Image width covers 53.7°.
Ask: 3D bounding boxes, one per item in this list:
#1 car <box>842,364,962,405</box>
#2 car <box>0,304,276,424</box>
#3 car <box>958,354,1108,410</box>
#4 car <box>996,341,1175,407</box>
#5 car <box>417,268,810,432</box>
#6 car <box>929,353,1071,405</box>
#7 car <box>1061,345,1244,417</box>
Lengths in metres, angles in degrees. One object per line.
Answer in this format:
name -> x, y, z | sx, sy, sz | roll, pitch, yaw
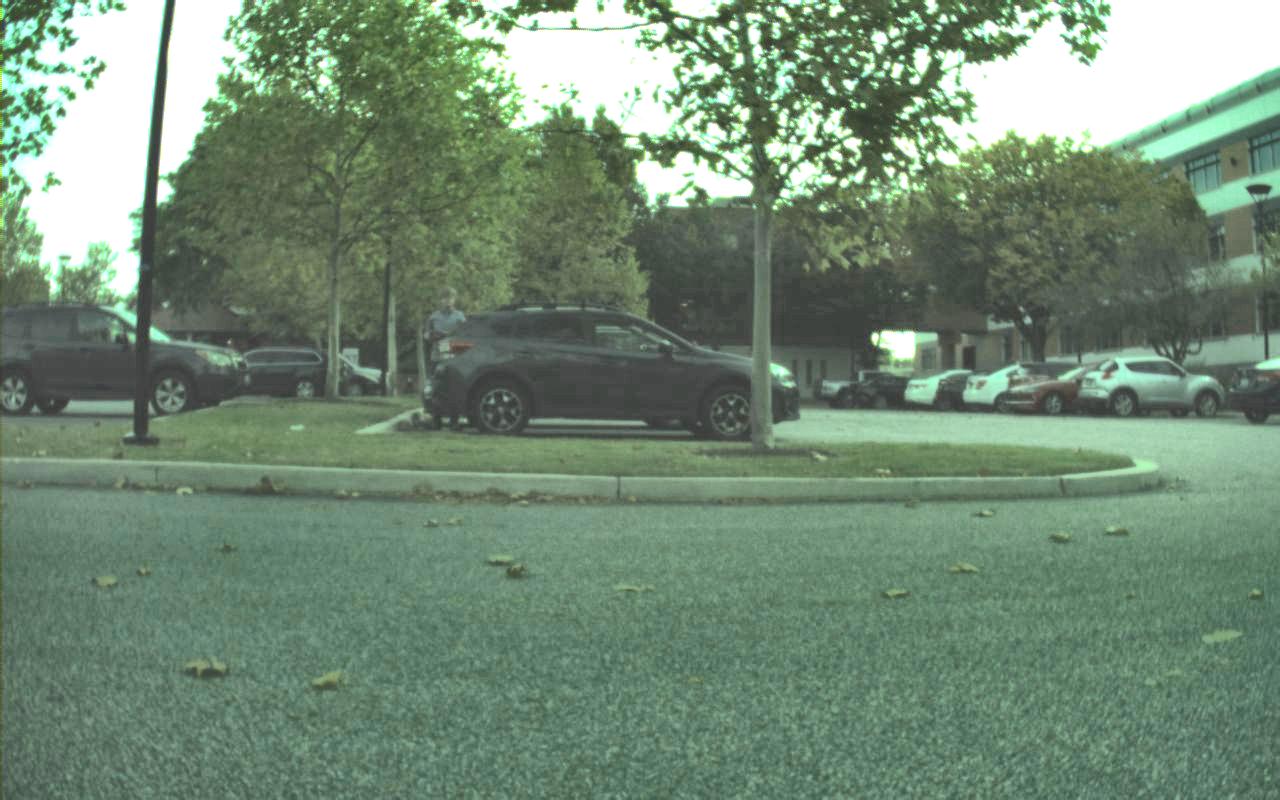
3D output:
car -> 10.691, -0.615, 50.724 | 4.591, 1.601, 1.959 | 0, 1, -14
car -> -7.802, -0.519, 17.523 | 4.551, 1.678, 1.975 | 0, 1, -7
car -> 12.288, -0.525, 38.009 | 4.461, 1.687, 1.954 | 0, 1, -2
car -> 12.123, -0.656, 32.626 | 4.671, 1.687, 1.998 | 0, 1, -4
car -> -0.396, -0.583, 15.341 | 4.533, 1.849, 1.983 | 0, 1, -8
car -> 11.902, -0.664, 40.490 | 4.417, 1.655, 1.951 | 0, 1, -4
car -> 13.113, -0.427, 30.051 | 4.570, 1.737, 1.979 | 0, 1, -4
